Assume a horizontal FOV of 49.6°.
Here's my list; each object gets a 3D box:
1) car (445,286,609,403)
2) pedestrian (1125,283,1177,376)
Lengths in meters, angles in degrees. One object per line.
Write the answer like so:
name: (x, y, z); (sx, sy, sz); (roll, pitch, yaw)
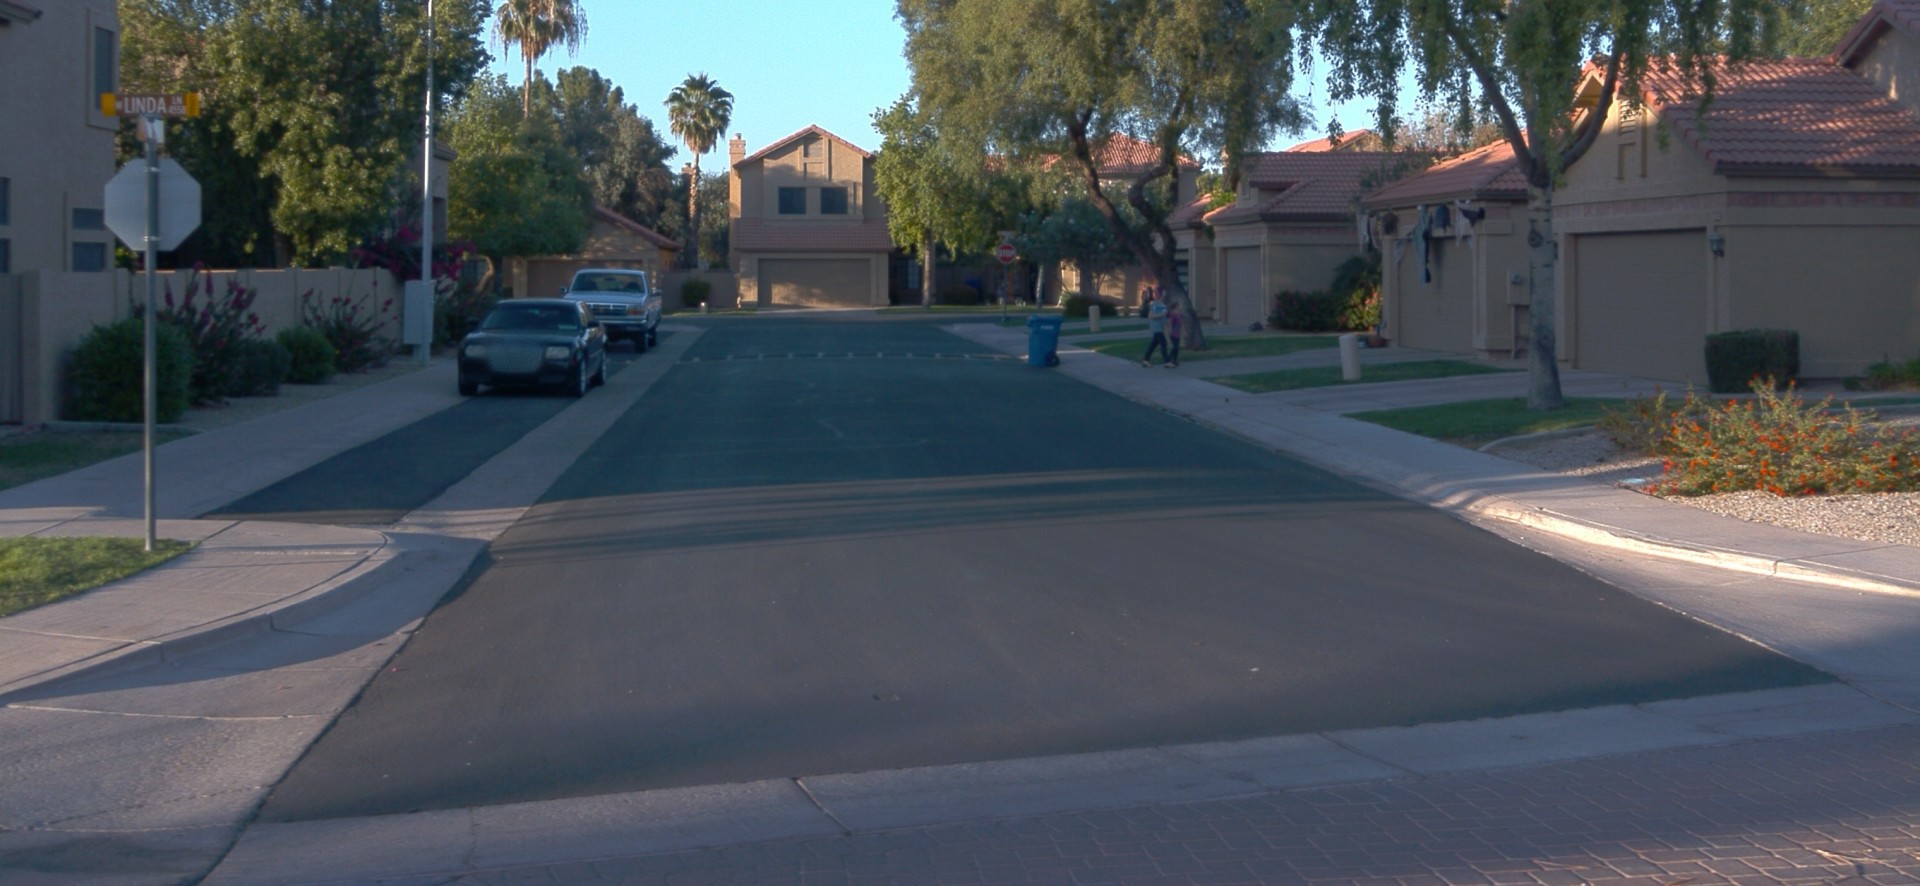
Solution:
car: (-6.841, -1.653, 33.265); (1.945, 1.552, 4.889); (0, 6, -4)
pedestrian: (3.582, -2.139, 38.999); (0.686, 1.687, 0.687); (-2, 3, -42)
